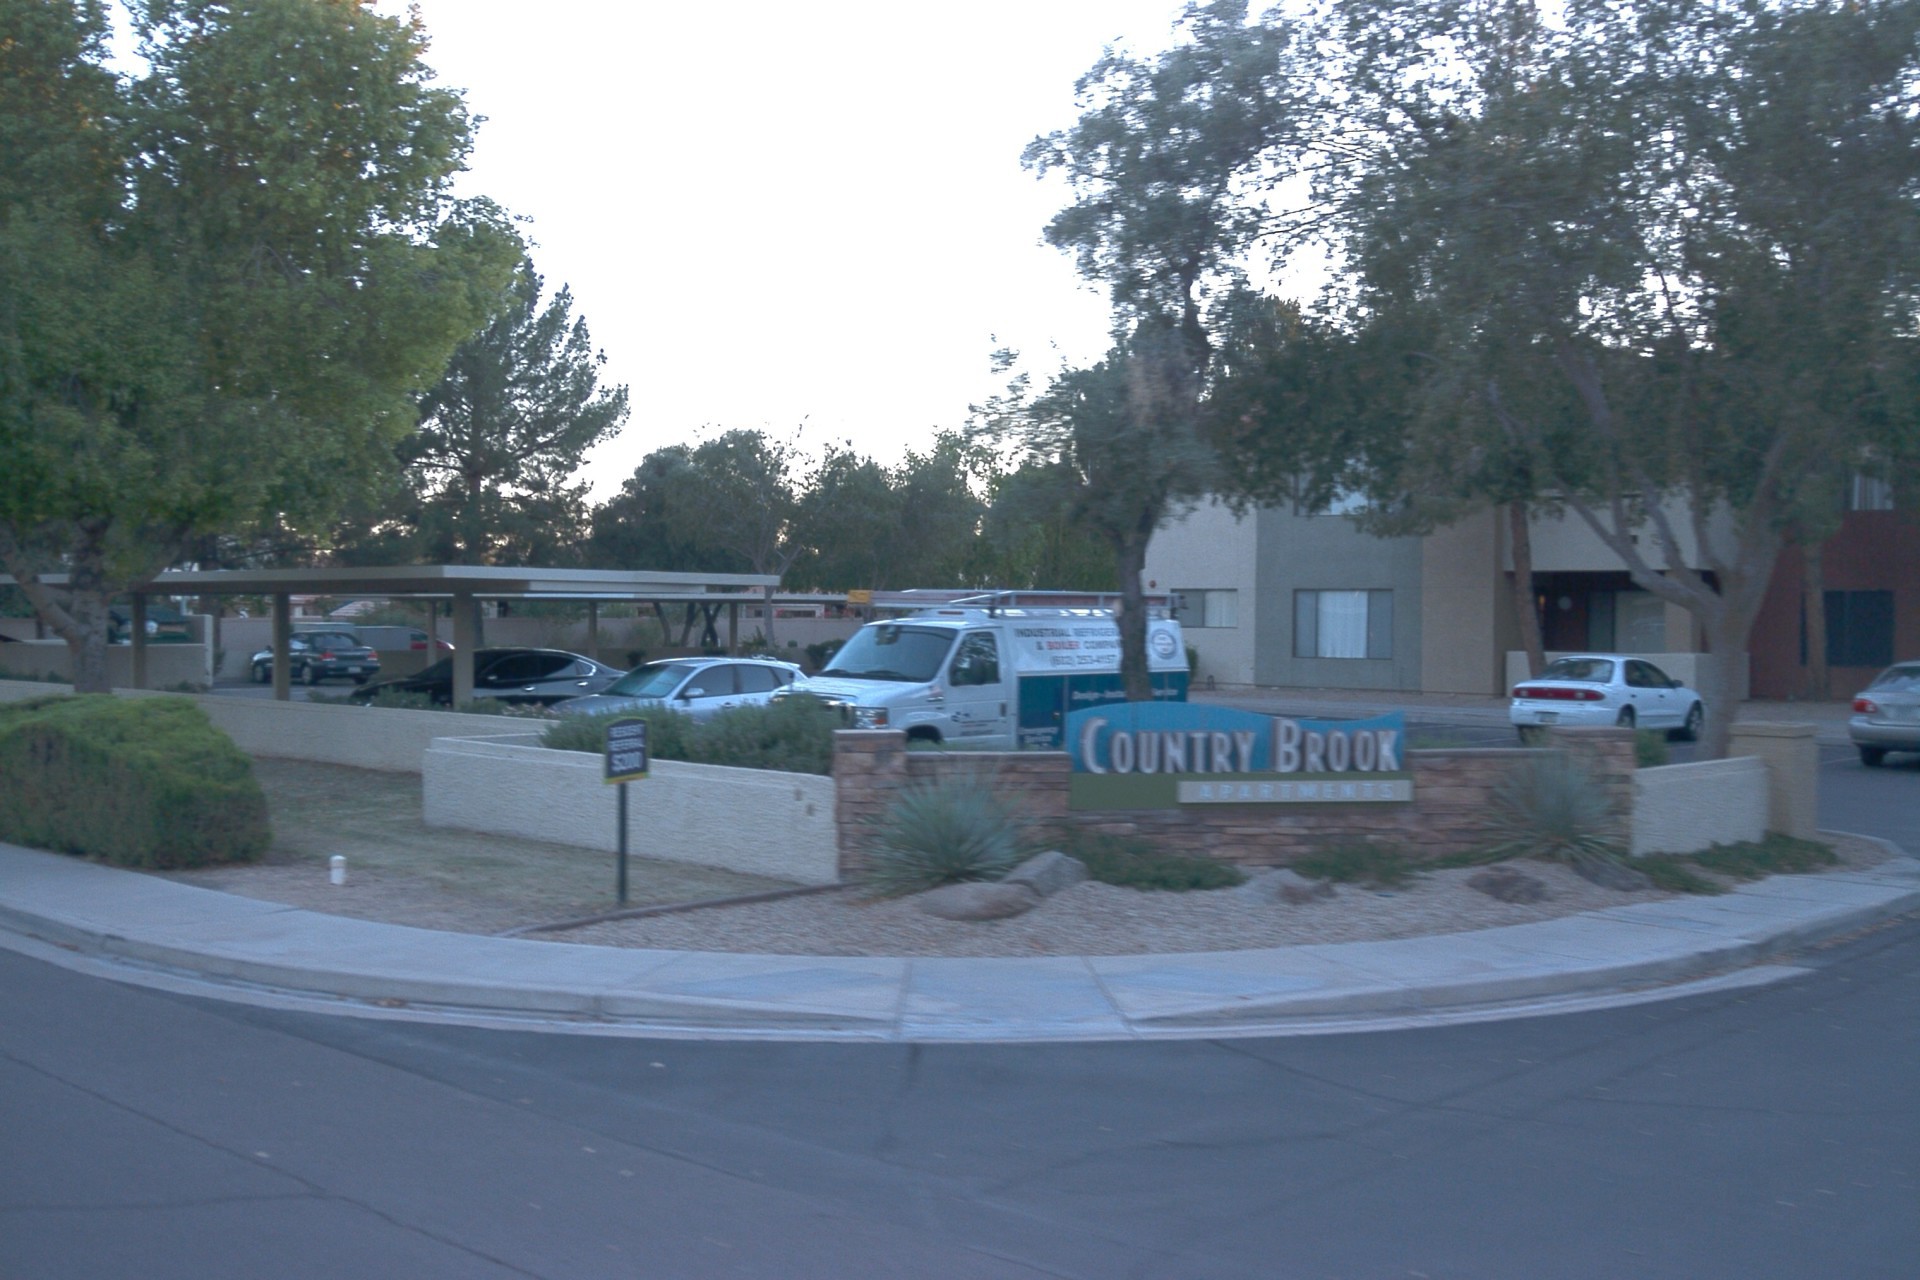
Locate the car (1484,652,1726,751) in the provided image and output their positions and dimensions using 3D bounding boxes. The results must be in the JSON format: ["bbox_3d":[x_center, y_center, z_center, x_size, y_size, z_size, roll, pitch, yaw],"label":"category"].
[{"bbox_3d":[10.258,0.931,32.646,1.973,1.440,4.431,1,0,42],"label":"car"}]

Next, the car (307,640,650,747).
[{"bbox_3d":[-7.451,0.797,32.278,2.115,1.529,4.818,1,0,45],"label":"car"}]

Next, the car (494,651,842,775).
[{"bbox_3d":[-3.877,0.938,27.921,1.971,1.520,4.331,1,0,45],"label":"car"}]

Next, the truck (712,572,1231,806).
[{"bbox_3d":[0.297,0.540,24.808,2.721,2.450,6.153,1,0,44],"label":"truck"}]
